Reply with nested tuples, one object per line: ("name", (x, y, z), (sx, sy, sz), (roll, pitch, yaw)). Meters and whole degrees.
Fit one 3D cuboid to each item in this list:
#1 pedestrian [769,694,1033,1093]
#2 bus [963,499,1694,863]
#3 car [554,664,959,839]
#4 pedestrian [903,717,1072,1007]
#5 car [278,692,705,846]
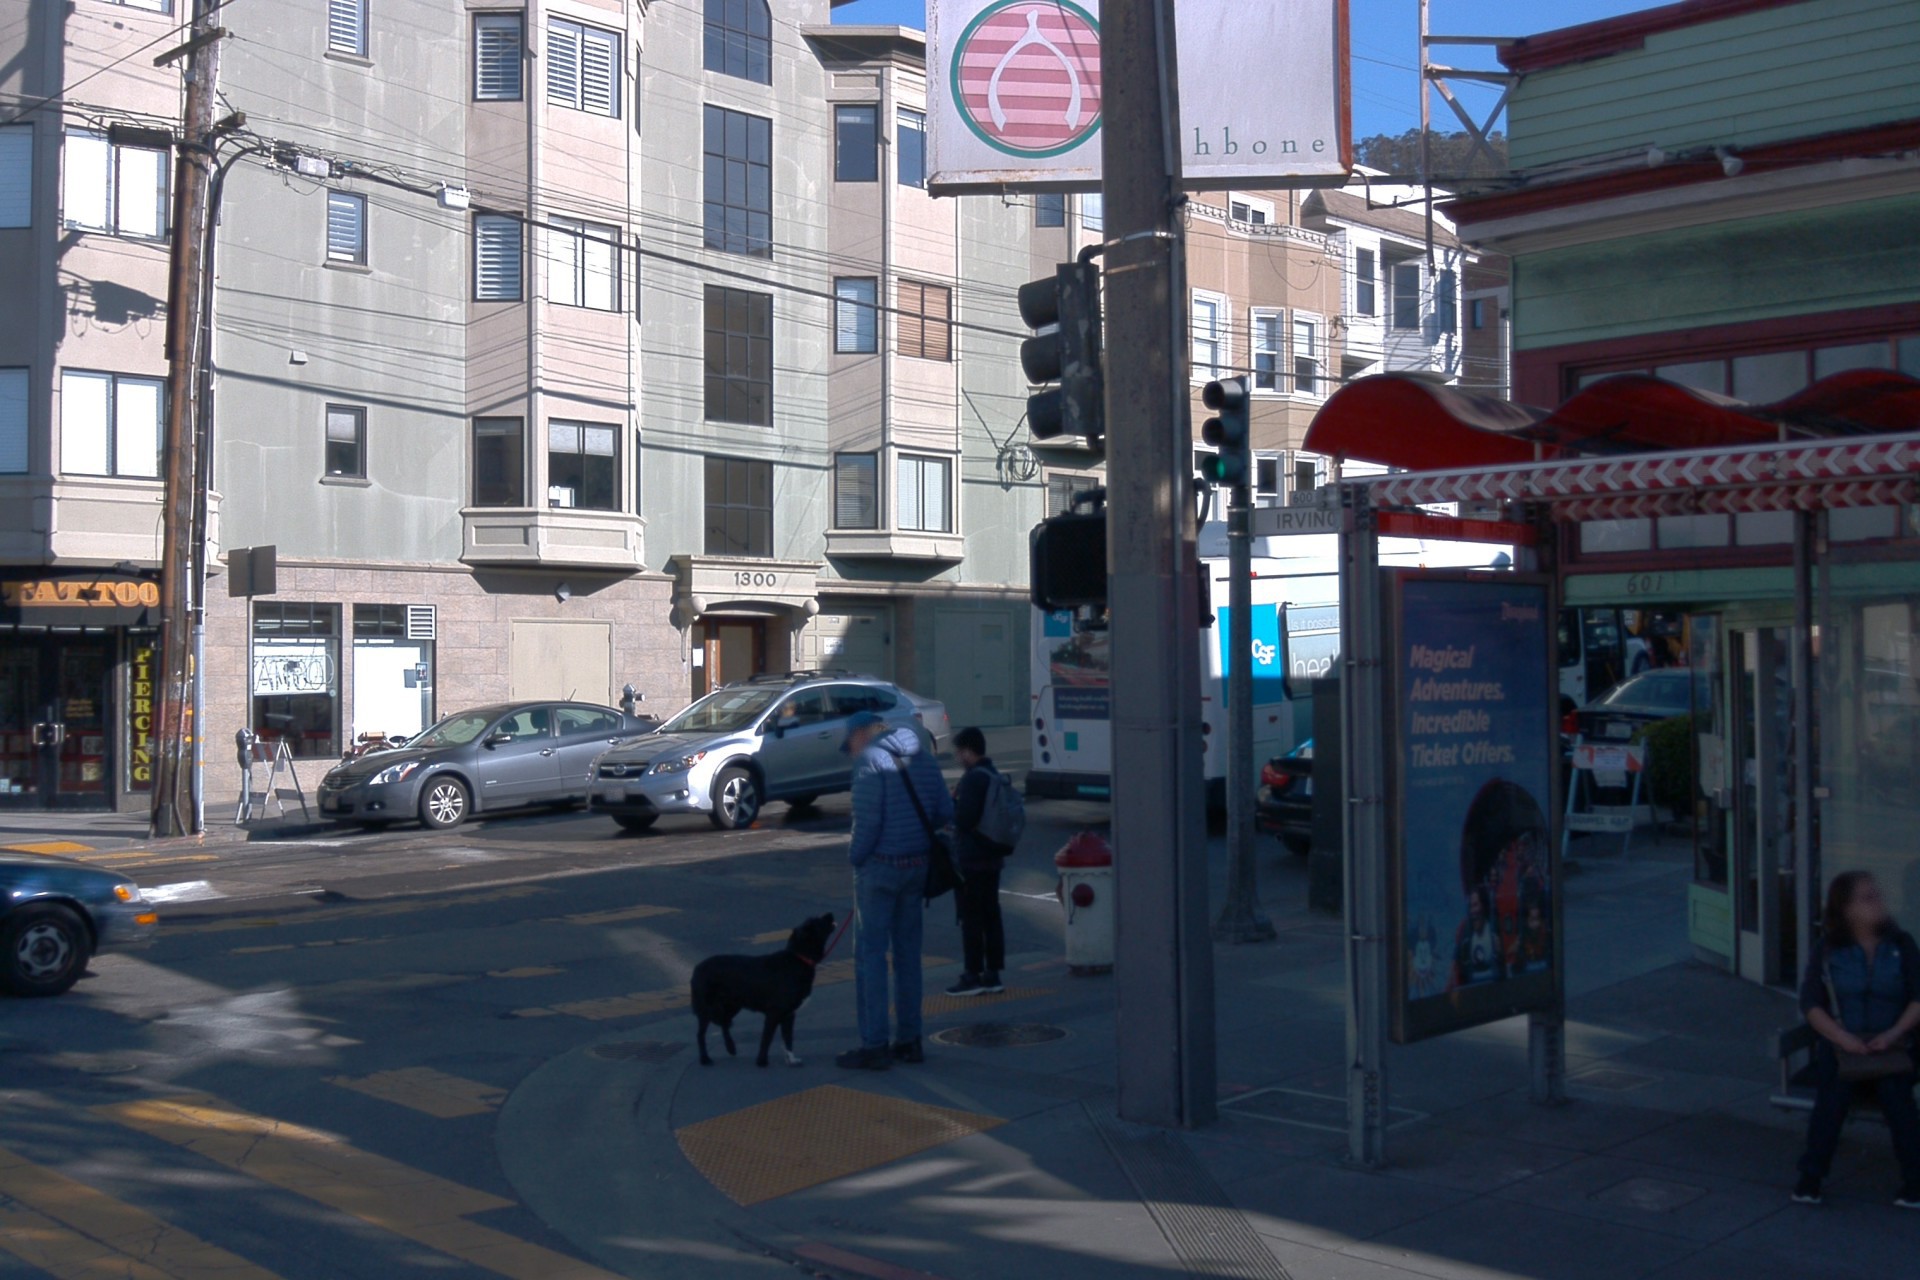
("pedestrian", (-0.296, 1.214, 10.553), (0.955, 1.860, 0.894), (0, 0, -44))
("bus", (4.860, 0.436, 24.943), (3.430, 3.464, 10.481), (1, 0, 43))
("car", (-2.197, 1.165, 23.687), (1.930, 1.770, 4.447), (1, 0, 40))
("pedestrian", (0.170, 1.344, 13.043), (0.687, 1.700, 0.778), (0, 0, -43))
("car", (-5.773, 1.523, 26.271), (2.149, 1.660, 4.833), (0, 0, 44))
